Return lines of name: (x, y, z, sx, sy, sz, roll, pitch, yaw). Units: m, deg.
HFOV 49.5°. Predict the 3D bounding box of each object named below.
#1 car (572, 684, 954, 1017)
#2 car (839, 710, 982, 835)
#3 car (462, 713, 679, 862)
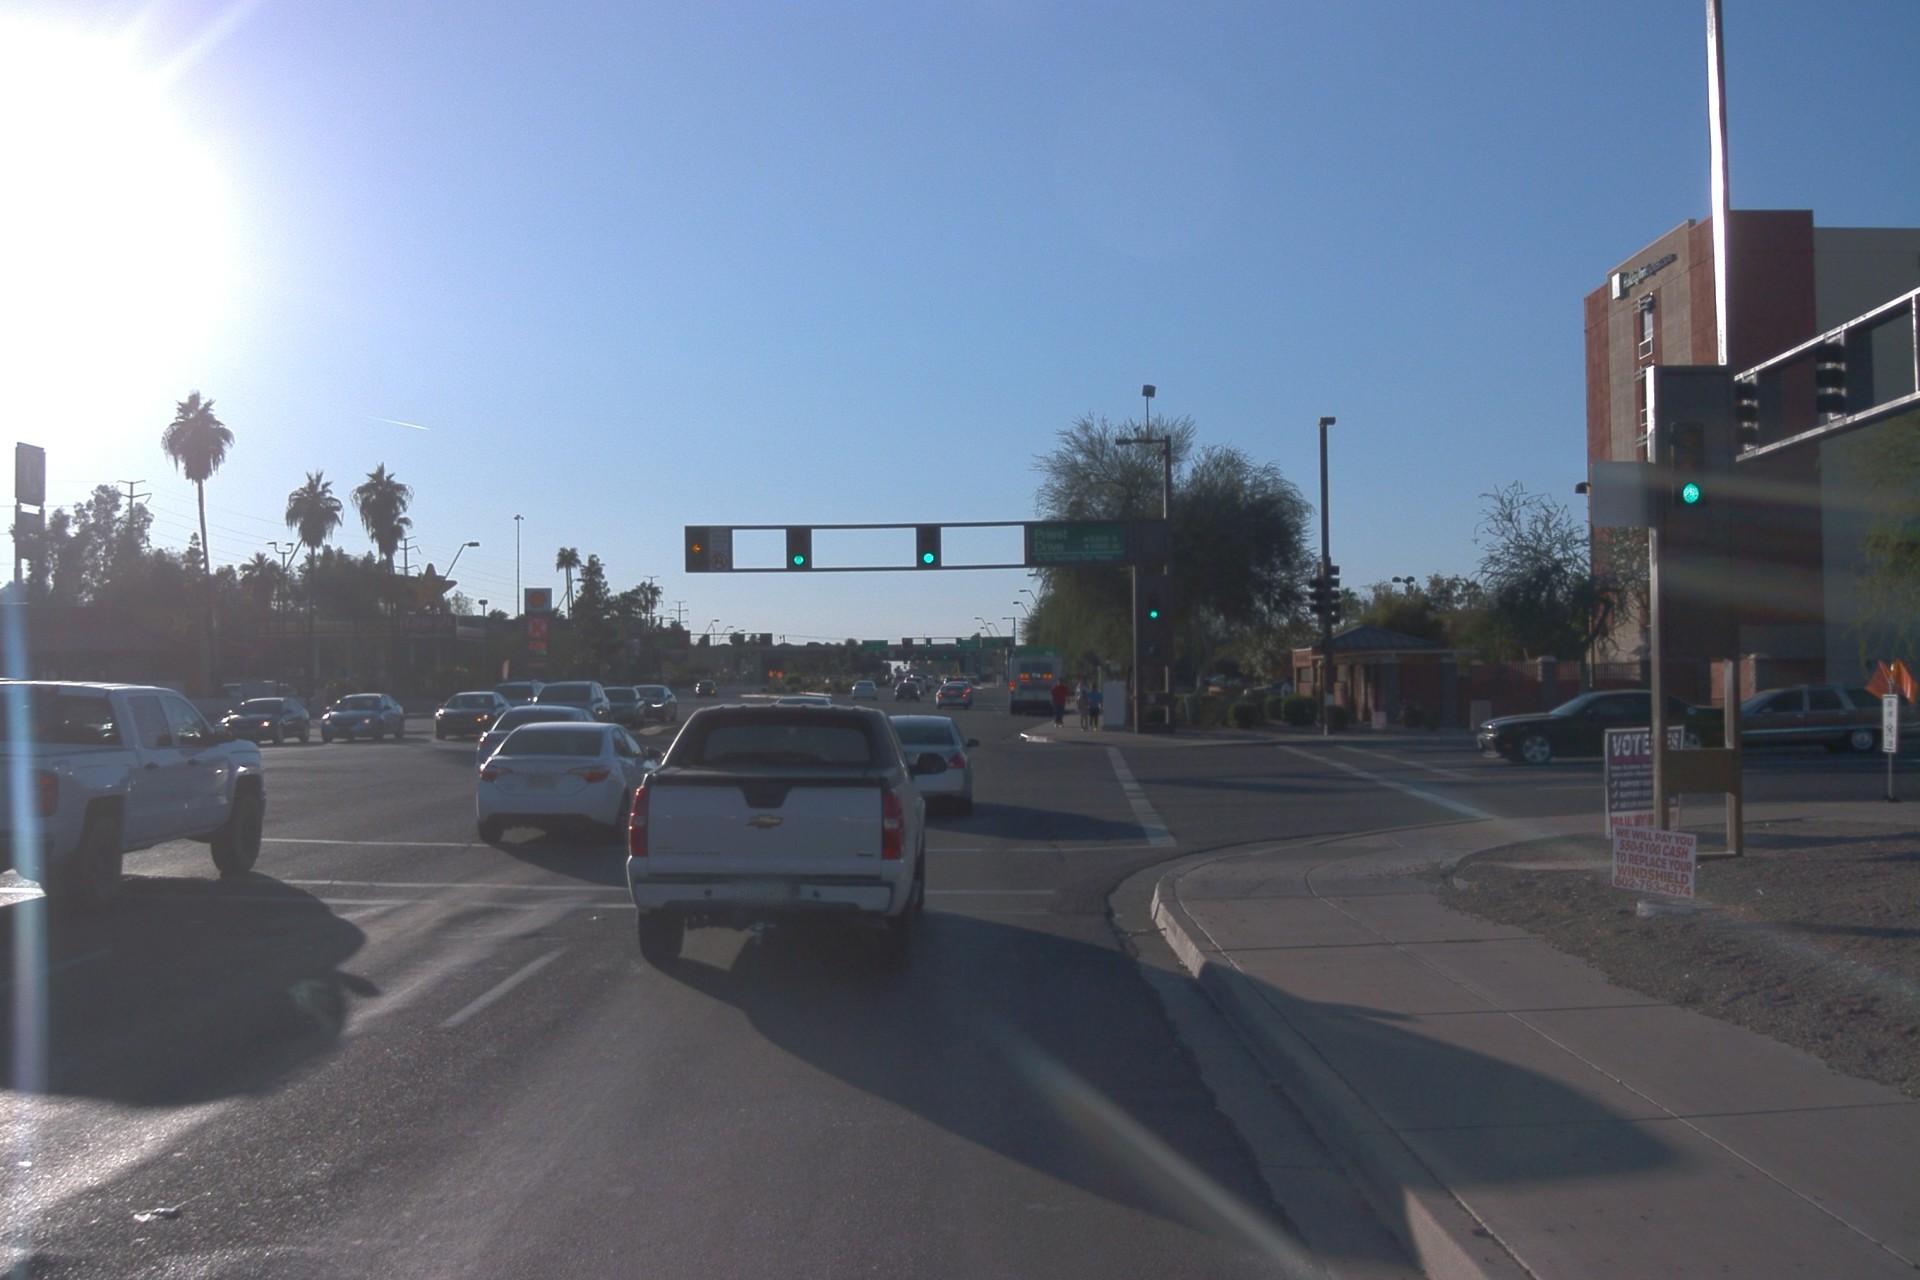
car: (-1.297, 1.439, 16.344, 2.477, 2.120, 5.357, 1, -1, 0)
car: (-0.686, 1.985, 32.286, 2.031, 1.680, 4.704, 1, -1, 1)
car: (-4.820, 1.790, 26.393, 1.880, 1.634, 4.348, 1, -1, 1)
